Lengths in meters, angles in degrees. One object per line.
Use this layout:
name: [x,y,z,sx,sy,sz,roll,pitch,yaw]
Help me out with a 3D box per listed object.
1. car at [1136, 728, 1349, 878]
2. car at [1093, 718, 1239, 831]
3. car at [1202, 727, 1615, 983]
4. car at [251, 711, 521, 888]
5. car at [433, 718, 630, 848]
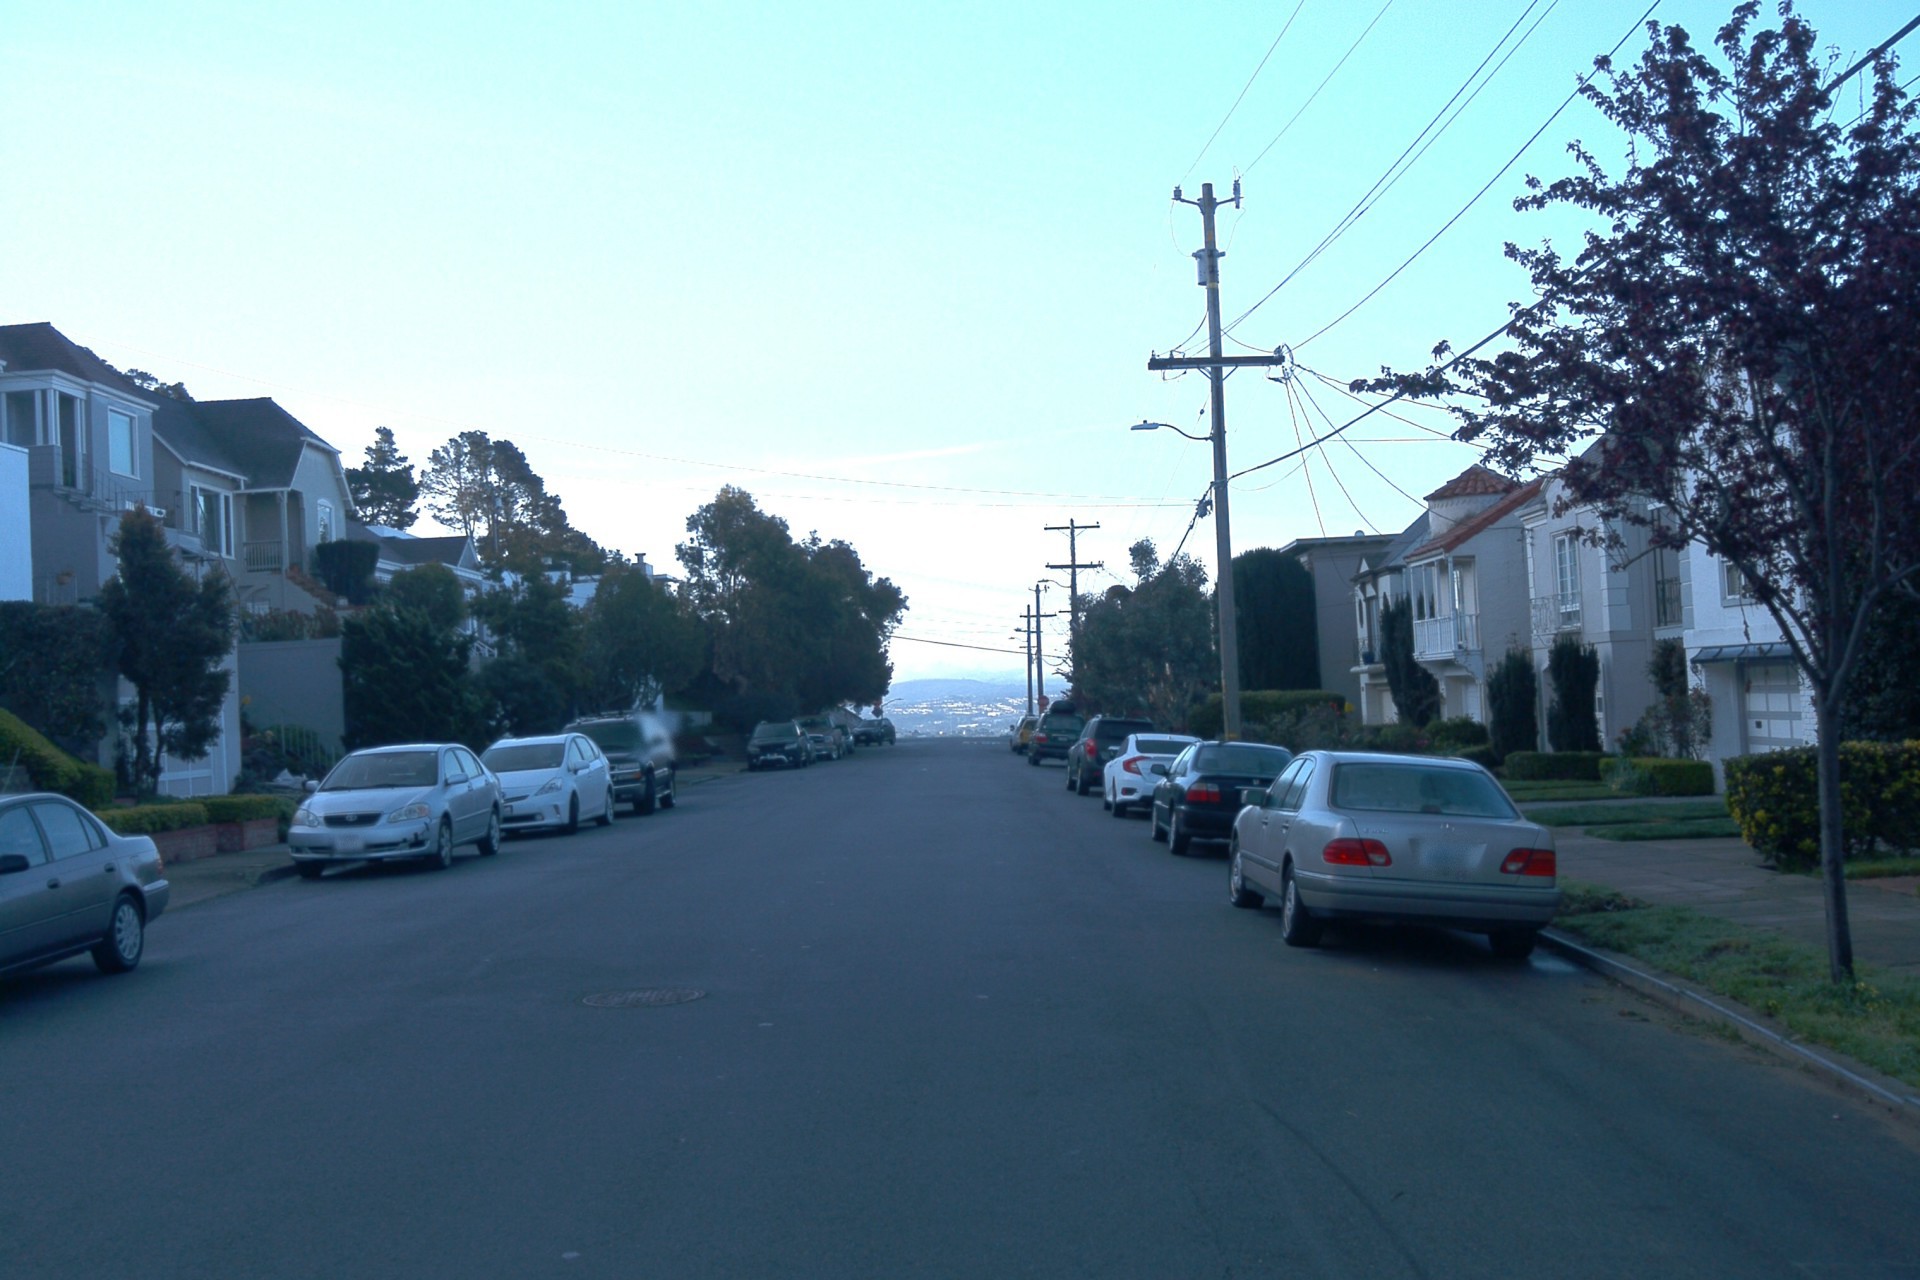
car: [3.441,1.970,25.943,2.043,1.510,4.722,0,0,0]
car: [3.455,2.244,35.360,2.038,1.610,4.834,0,0,0]
car: [3.322,1.555,16.369,2.128,1.520,4.879,0,0,-1]
car: [-6.763,1.825,24.826,1.984,1.780,4.621,0,0,0]
car: [-6.630,2.169,32.381,2.015,1.720,4.697,0,0,1]
